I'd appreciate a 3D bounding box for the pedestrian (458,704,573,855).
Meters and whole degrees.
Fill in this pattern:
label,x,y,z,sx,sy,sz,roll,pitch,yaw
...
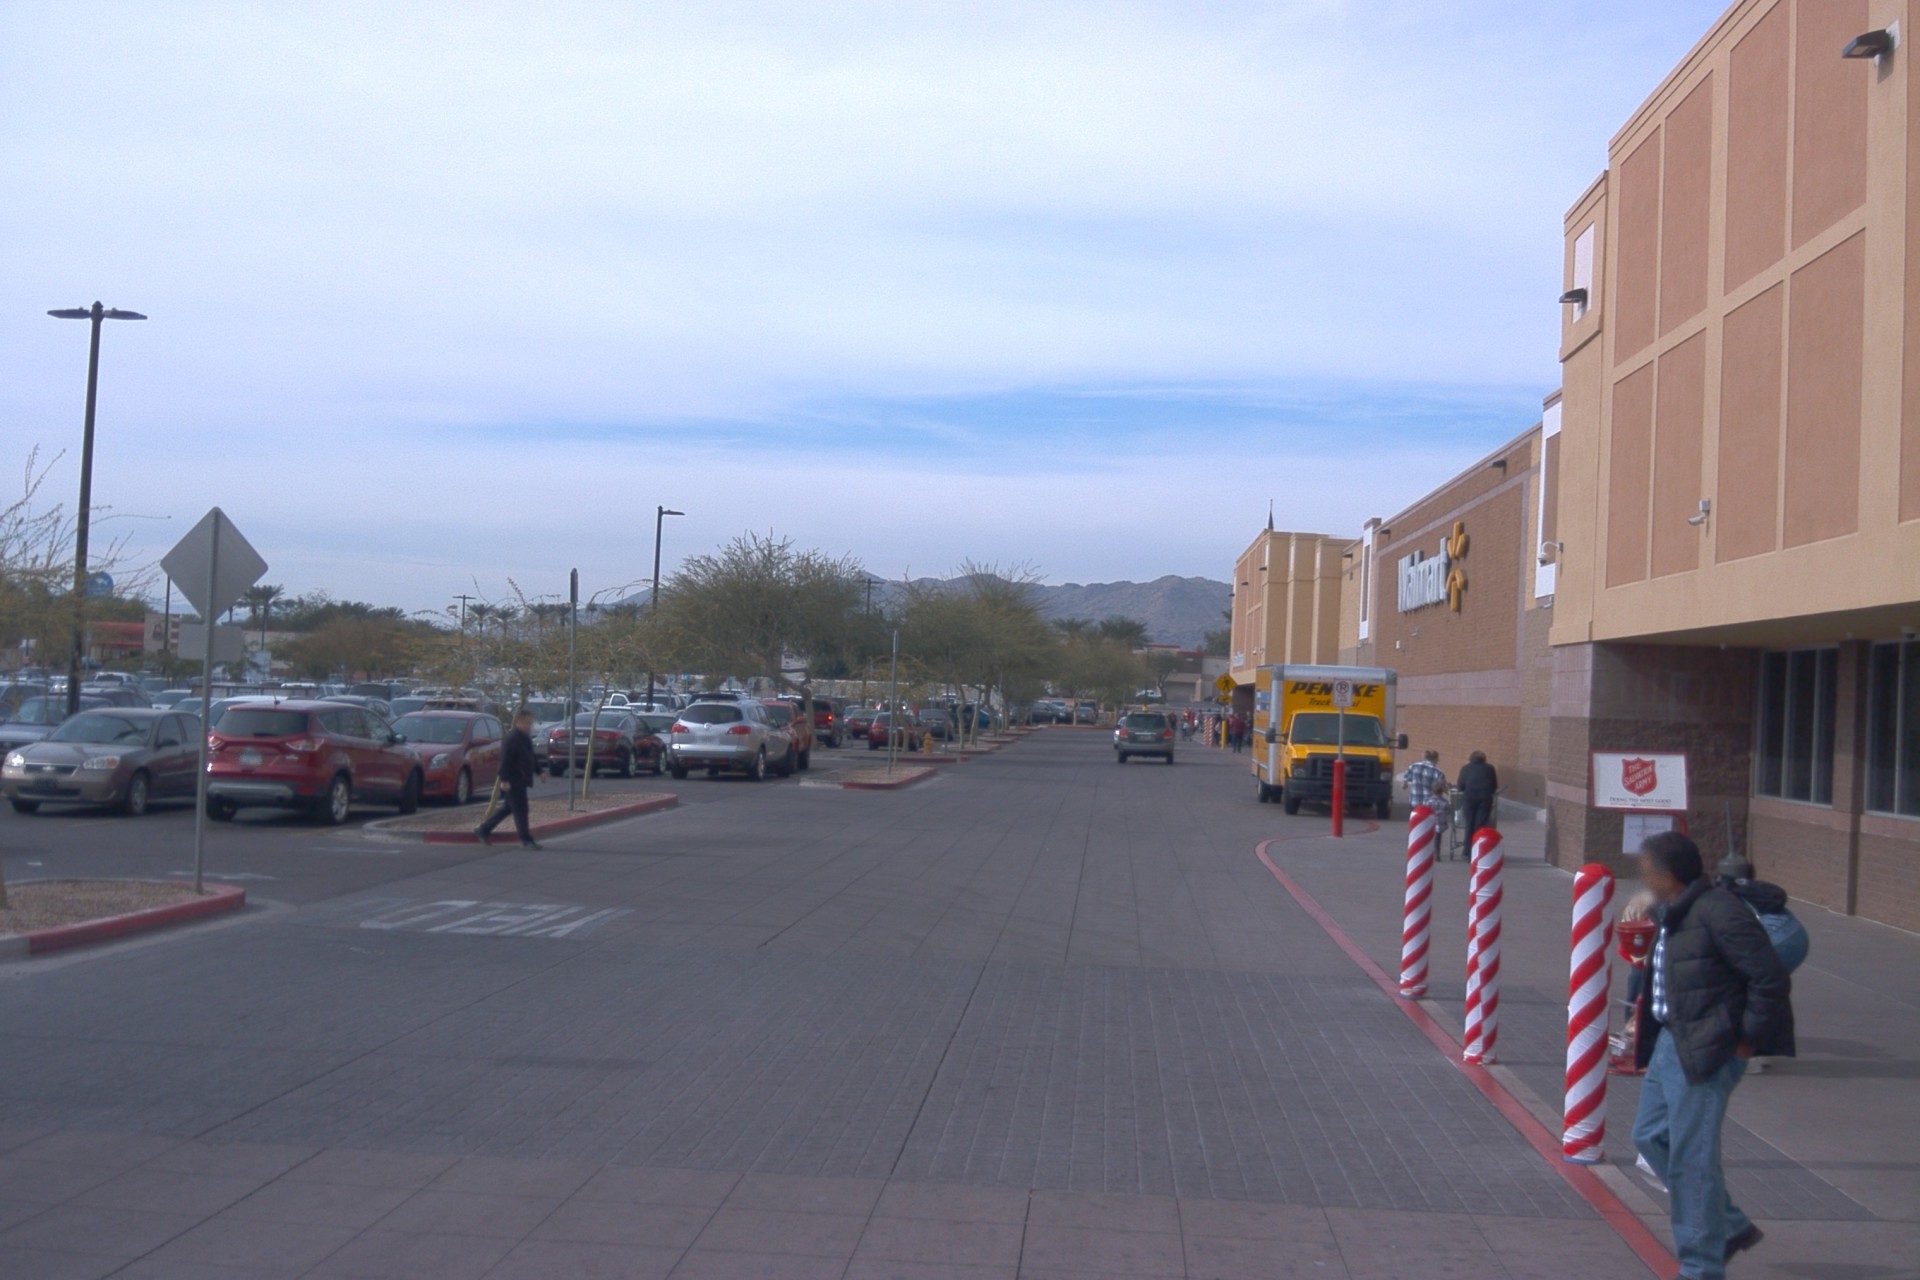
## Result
label,x,y,z,sx,sy,sz,roll,pitch,yaw
pedestrian,-5.354,1.662,25.148,0.998,1.760,1.002,1,-1,11

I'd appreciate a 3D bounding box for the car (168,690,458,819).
label,x,y,z,sx,sy,sz,roll,pitch,yaw
car,-8.981,1.551,29.429,2.115,1.630,4.730,1,-2,7

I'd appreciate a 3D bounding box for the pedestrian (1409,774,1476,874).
label,x,y,z,sx,sy,sz,roll,pitch,yaw
pedestrian,6.794,2.571,29.329,0.820,1.330,0.942,1,-2,18

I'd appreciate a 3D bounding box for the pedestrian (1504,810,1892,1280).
label,x,y,z,sx,sy,sz,roll,pitch,yaw
pedestrian,2.669,1.540,7.651,1.001,1.760,0.999,1,-1,-6

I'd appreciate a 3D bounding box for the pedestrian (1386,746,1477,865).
label,x,y,z,sx,sy,sz,roll,pitch,yaw
pedestrian,6.796,2.364,30.073,1.124,1.630,1.170,1,-1,5

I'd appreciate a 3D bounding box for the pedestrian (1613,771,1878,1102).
label,x,y,z,sx,sy,sz,roll,pitch,yaw
pedestrian,4.729,1.754,12.619,1.117,1.860,1.044,1,-1,-9

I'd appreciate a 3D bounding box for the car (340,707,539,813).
label,x,y,z,sx,sy,sz,roll,pitch,yaw
car,-8.515,1.931,34.474,1.906,1.600,4.184,1,-2,4

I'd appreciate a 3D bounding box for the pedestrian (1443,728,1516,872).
label,x,y,z,sx,sy,sz,roll,pitch,yaw
pedestrian,7.198,2.188,28.852,0.938,1.900,1.328,1,-2,14
